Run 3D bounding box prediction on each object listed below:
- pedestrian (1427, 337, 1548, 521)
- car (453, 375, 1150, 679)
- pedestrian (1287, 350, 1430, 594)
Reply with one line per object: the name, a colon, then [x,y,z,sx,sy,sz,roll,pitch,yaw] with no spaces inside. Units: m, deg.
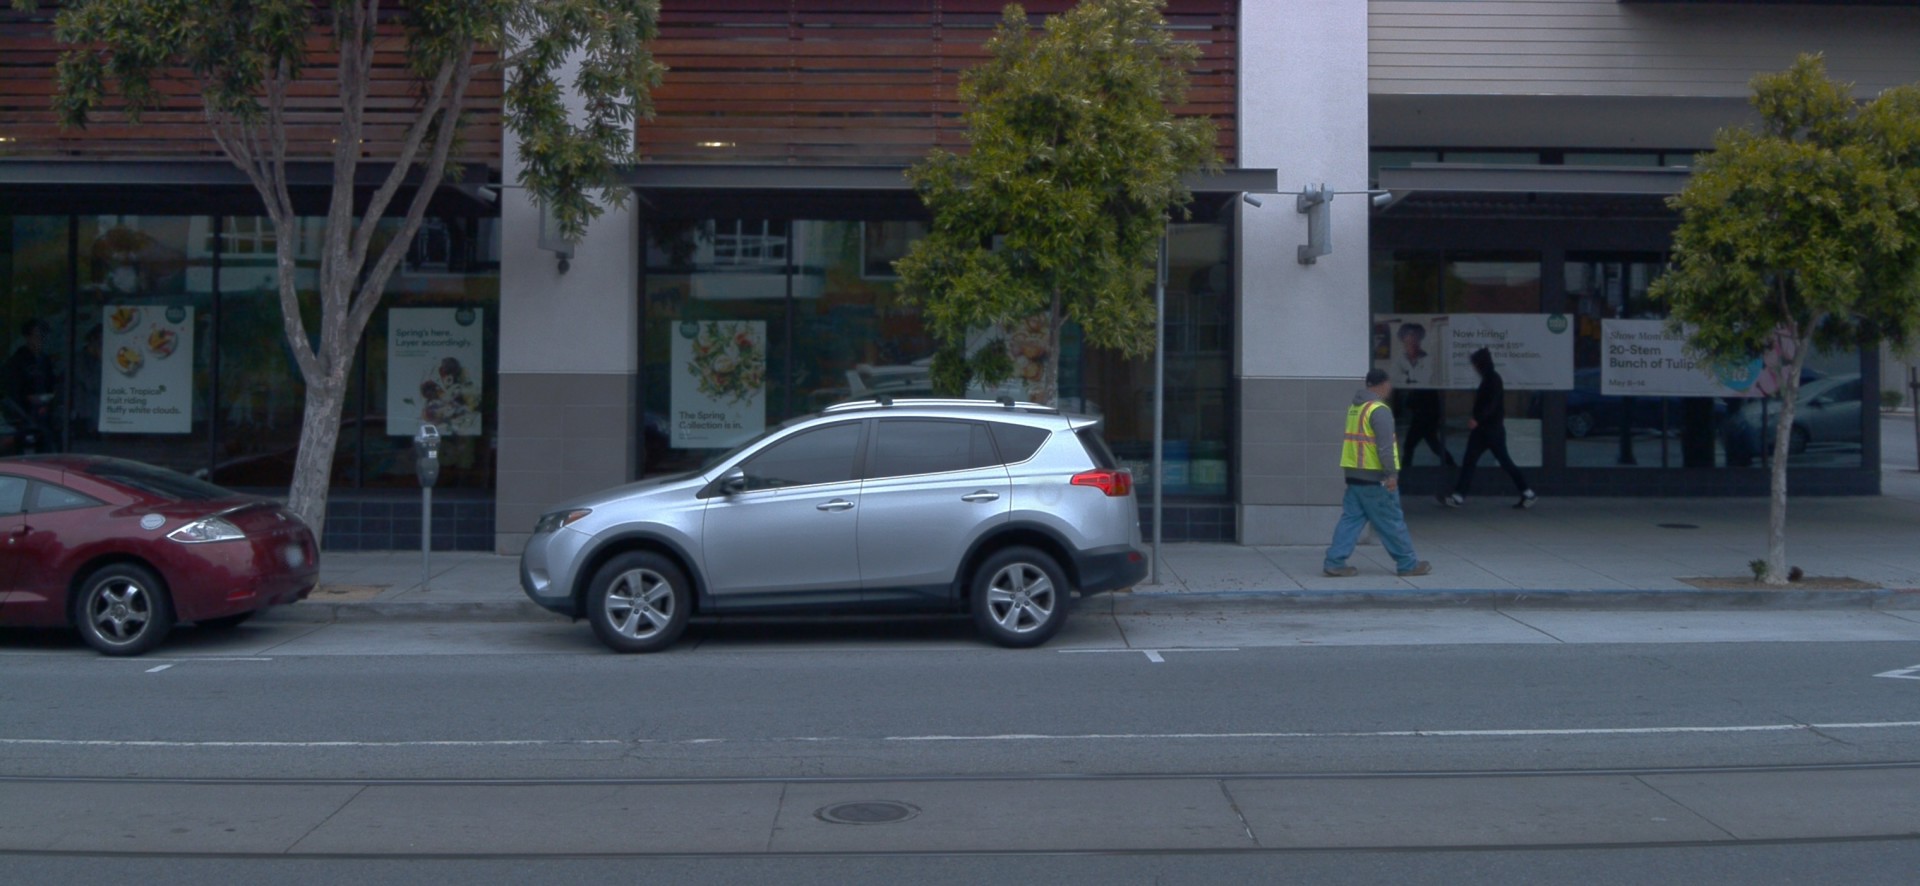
pedestrian: [5.893,-0.177,23.057,1.075,1.936,0.845,-1,2,-8]
car: [-1.092,0.522,14.925,4.658,1.804,2.133,-1,4,-3]
pedestrian: [3.286,0.206,17.052,0.861,1.877,0.858,-1,2,-18]
